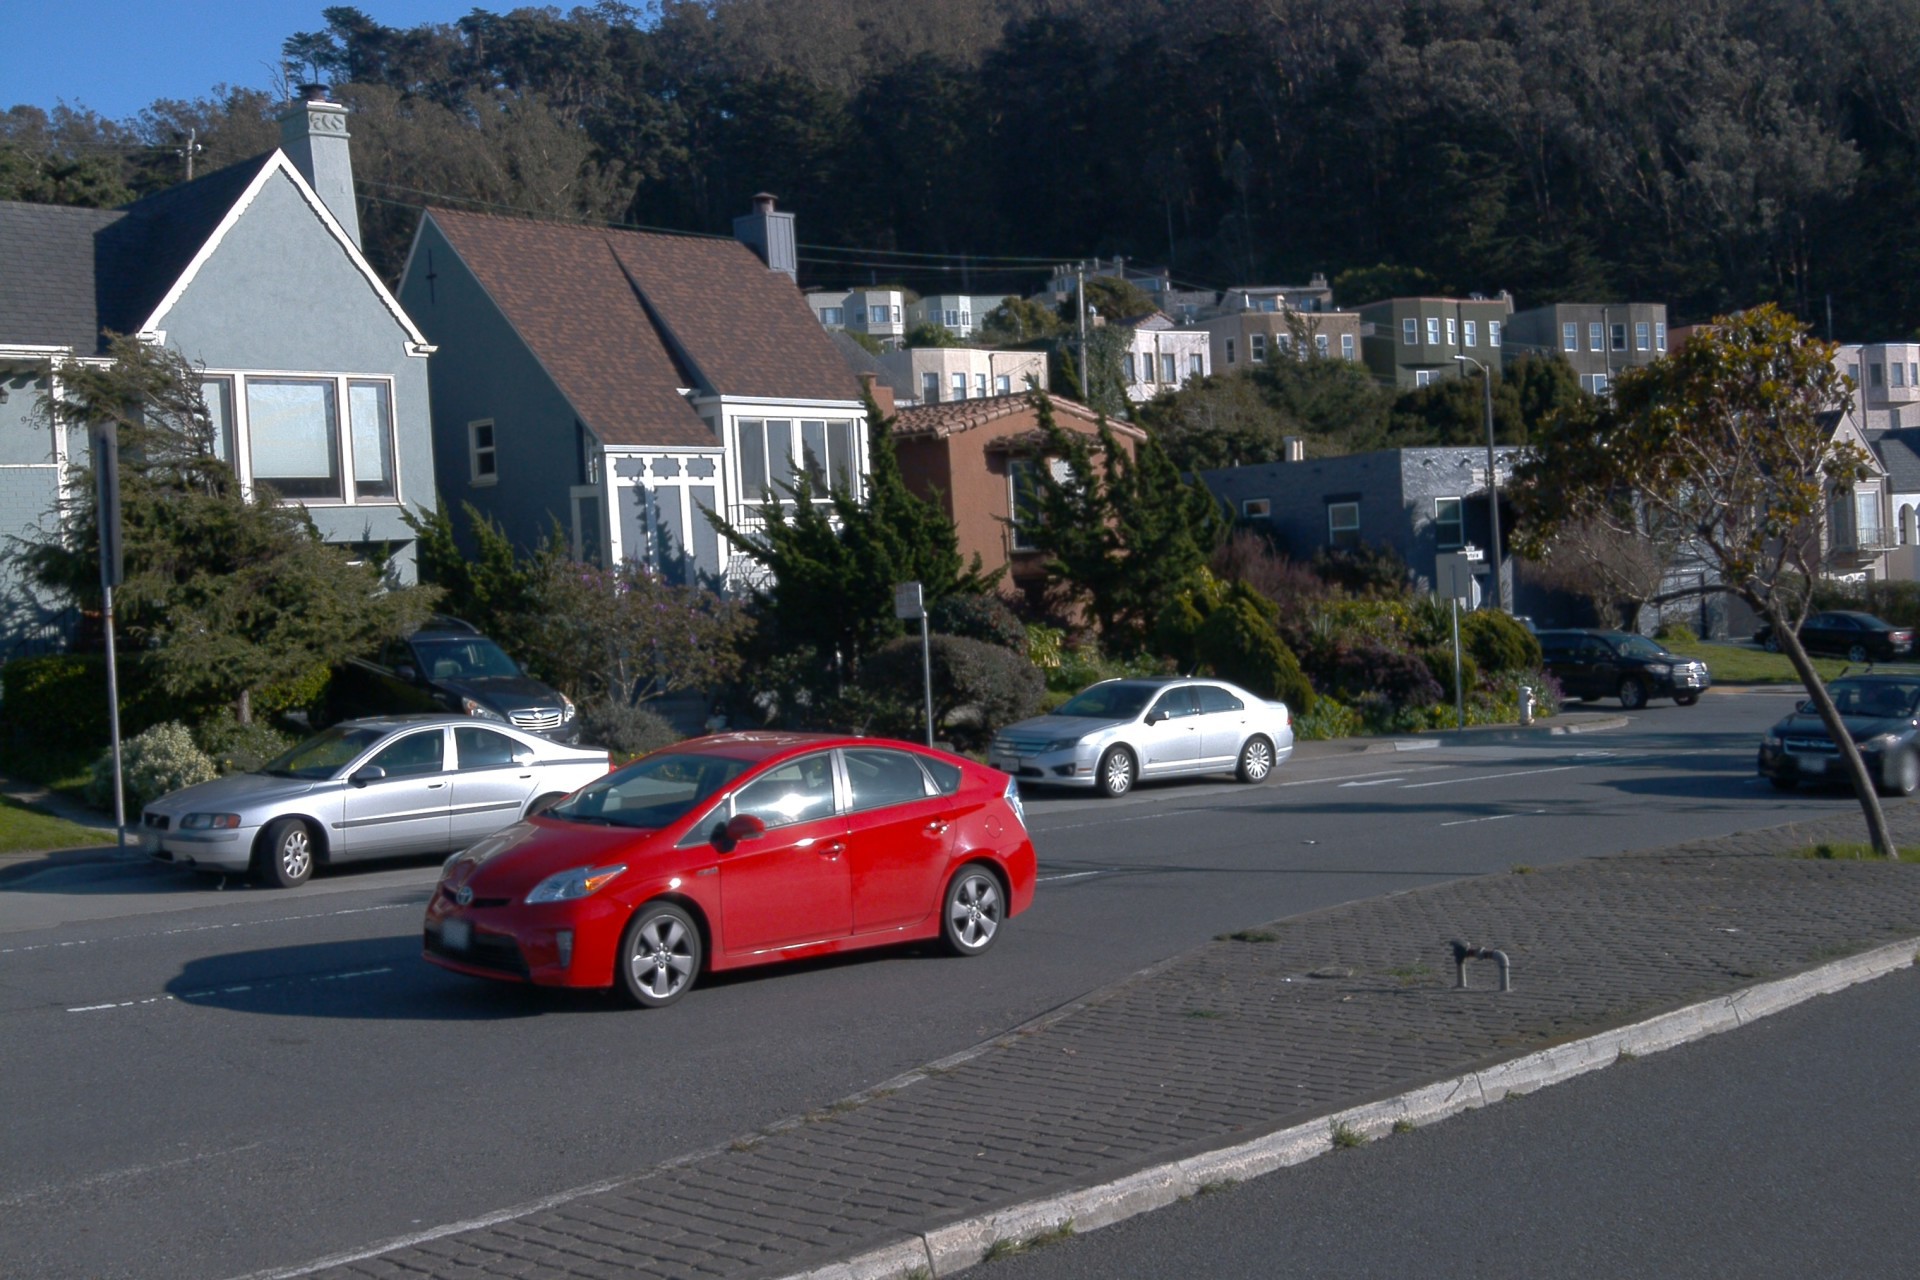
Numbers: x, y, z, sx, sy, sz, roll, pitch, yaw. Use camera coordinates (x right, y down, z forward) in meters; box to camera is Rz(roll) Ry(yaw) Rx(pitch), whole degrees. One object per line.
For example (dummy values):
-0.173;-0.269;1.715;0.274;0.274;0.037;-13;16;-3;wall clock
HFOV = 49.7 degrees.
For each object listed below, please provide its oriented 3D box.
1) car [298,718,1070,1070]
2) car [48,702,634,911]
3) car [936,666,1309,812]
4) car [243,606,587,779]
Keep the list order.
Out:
-1.571;1.403;13.021;4.509;1.620;1.982;-1;0;-45;car
-5.586;1.417;19.138;4.758;1.510;2.056;-1;0;-44;car
2.199;1.198;27.014;4.885;1.640;2.093;-1;0;-43;car
-7.165;0.622;26.998;4.652;2.060;2.071;0;0;41;car
